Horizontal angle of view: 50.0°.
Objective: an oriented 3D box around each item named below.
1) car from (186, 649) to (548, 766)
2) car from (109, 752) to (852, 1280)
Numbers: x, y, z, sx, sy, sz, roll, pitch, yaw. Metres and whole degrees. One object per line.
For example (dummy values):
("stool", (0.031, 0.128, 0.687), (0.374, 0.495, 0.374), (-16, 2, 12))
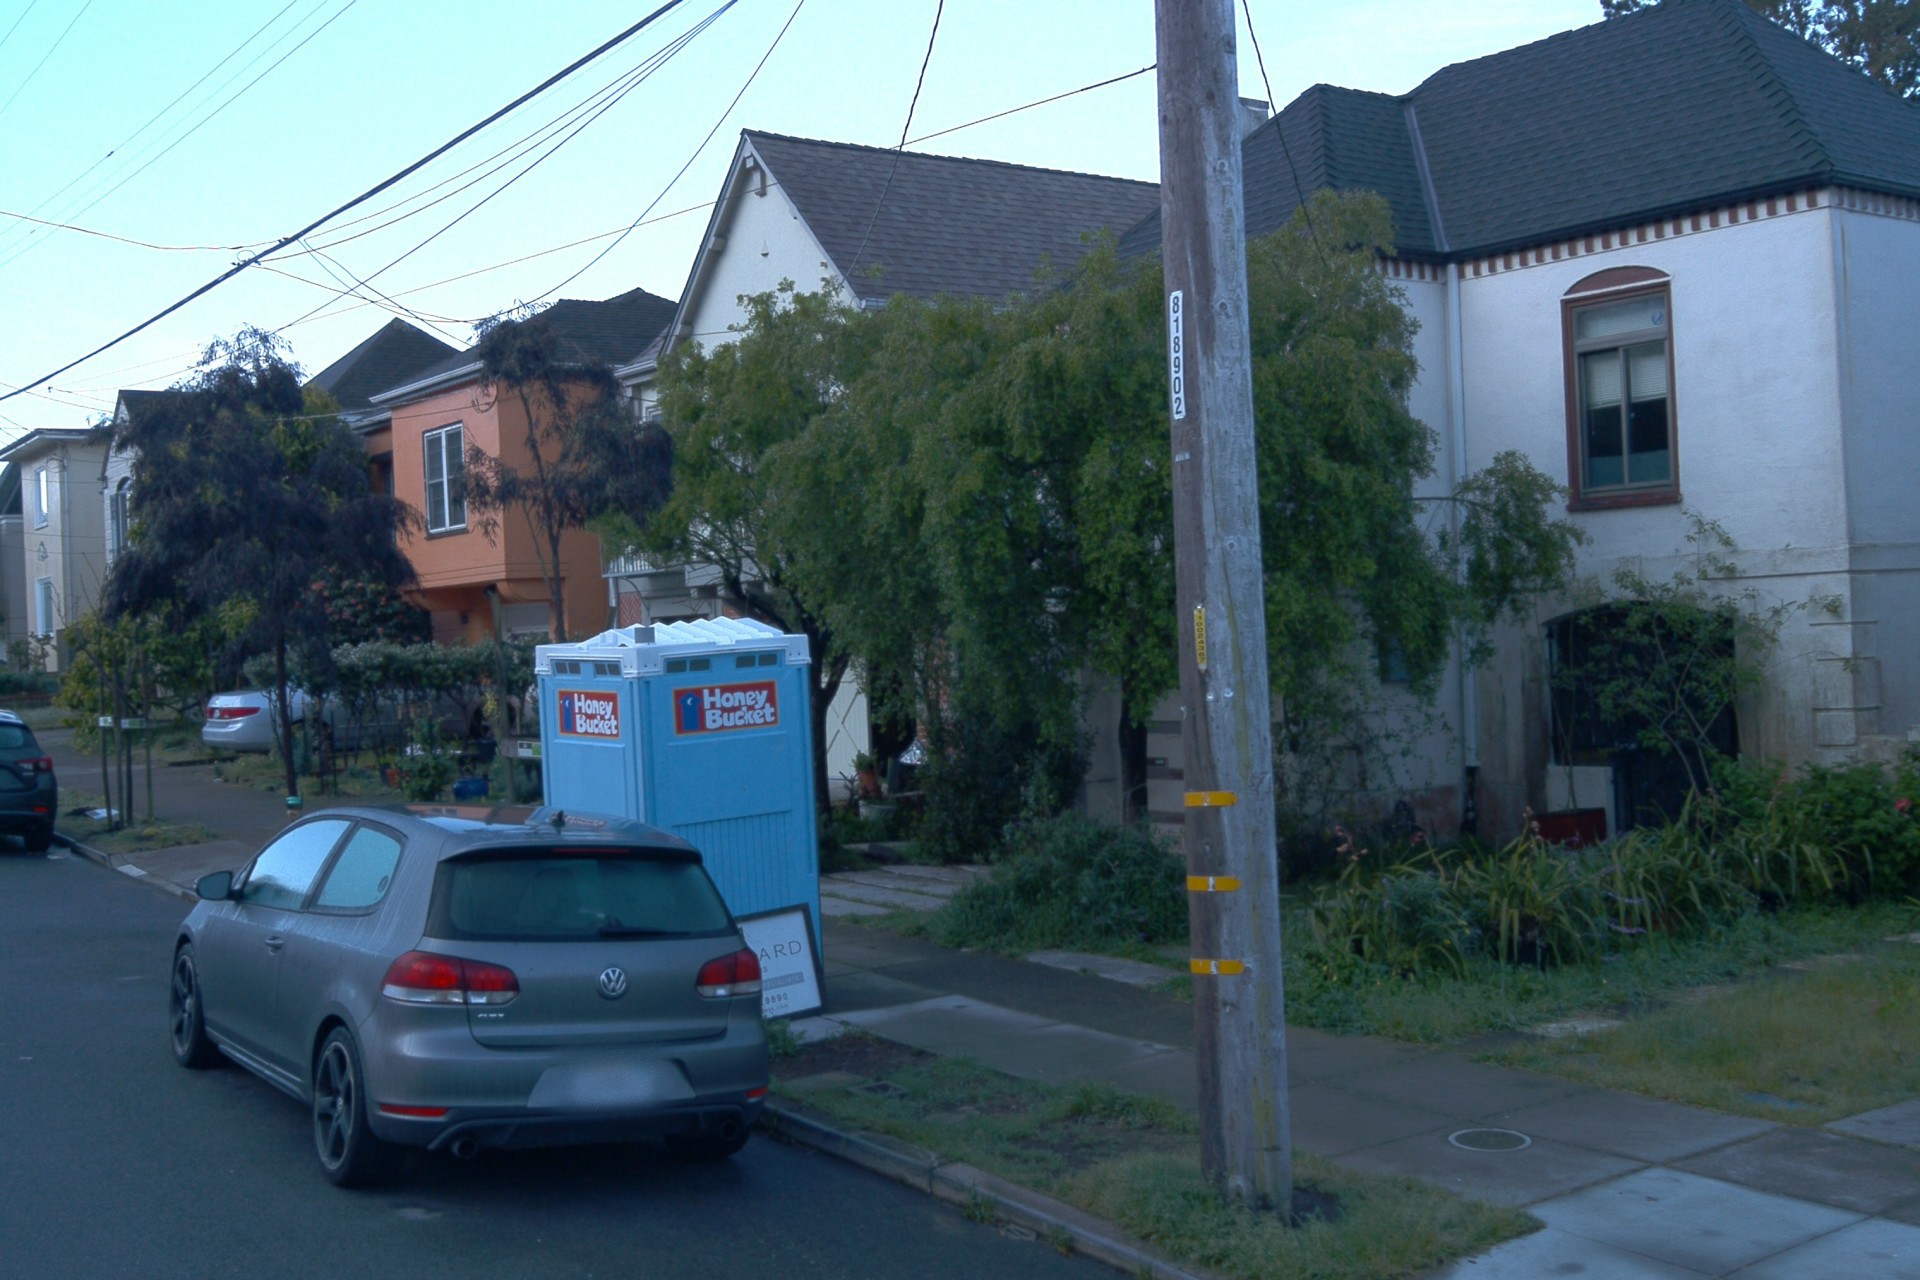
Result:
("car", (-8.452, 0.907, 29.506), (4.591, 1.540, 1.961), (0, 0, -34))
("car", (-2.486, 1.469, 9.686), (2.043, 1.630, 4.360), (0, 0, -33))
